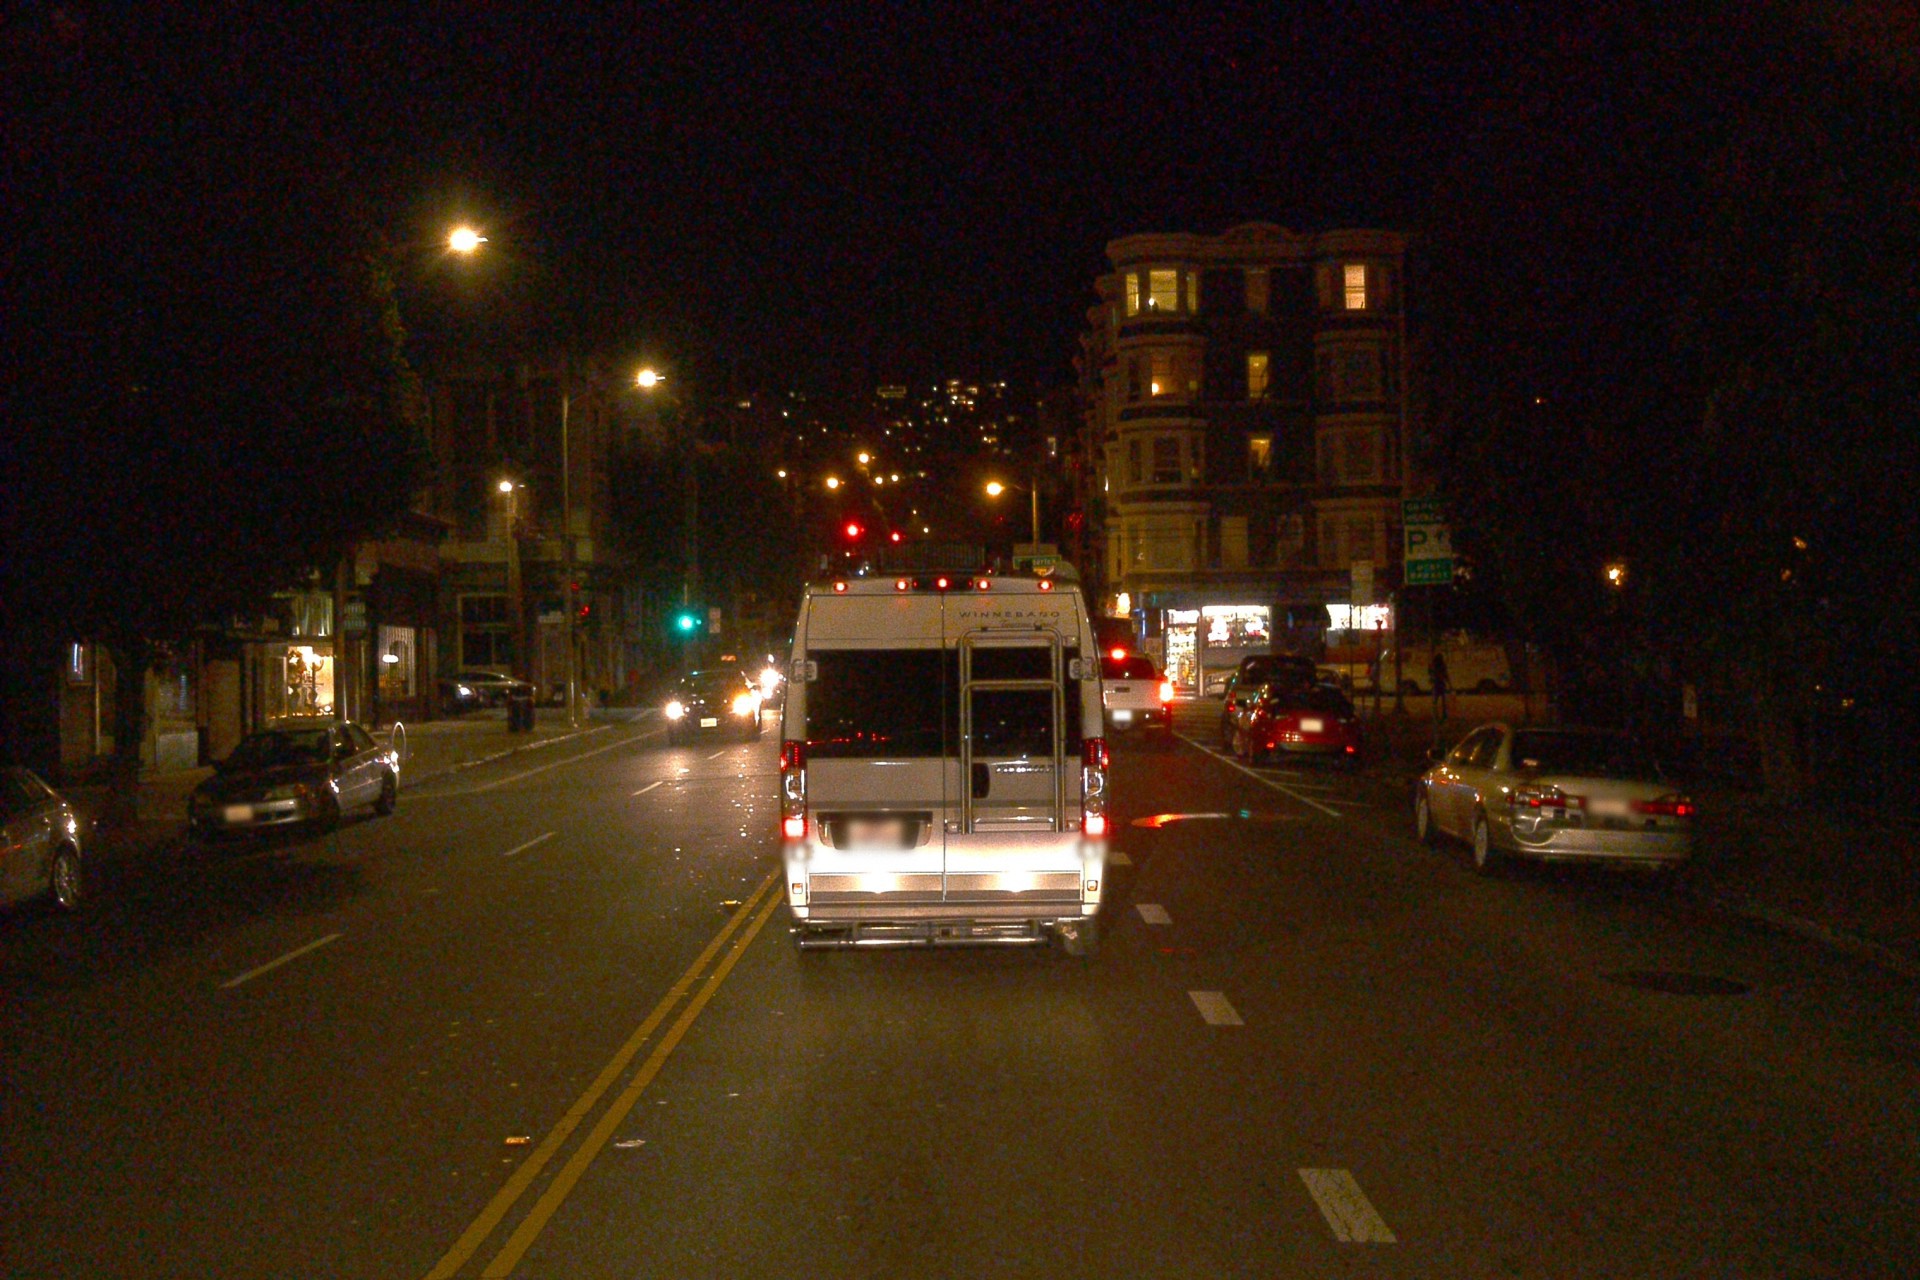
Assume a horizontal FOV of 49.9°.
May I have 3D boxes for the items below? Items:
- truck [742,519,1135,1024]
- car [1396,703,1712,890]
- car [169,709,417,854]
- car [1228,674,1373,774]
[{"bbox_3d":[-0.112,0.771,14.844,2.338,3.000,5.110,0,0,0],"label":"truck"},{"bbox_3d":[5.577,1.409,20.000,1.867,1.430,4.637,0,0,2],"label":"car"},{"bbox_3d":[-8.734,1.806,27.450,1.850,1.600,4.445,0,0,0],"label":"car"},{"bbox_3d":[5.680,1.362,34.880,1.963,1.500,4.260,0,0,3],"label":"car"}]
